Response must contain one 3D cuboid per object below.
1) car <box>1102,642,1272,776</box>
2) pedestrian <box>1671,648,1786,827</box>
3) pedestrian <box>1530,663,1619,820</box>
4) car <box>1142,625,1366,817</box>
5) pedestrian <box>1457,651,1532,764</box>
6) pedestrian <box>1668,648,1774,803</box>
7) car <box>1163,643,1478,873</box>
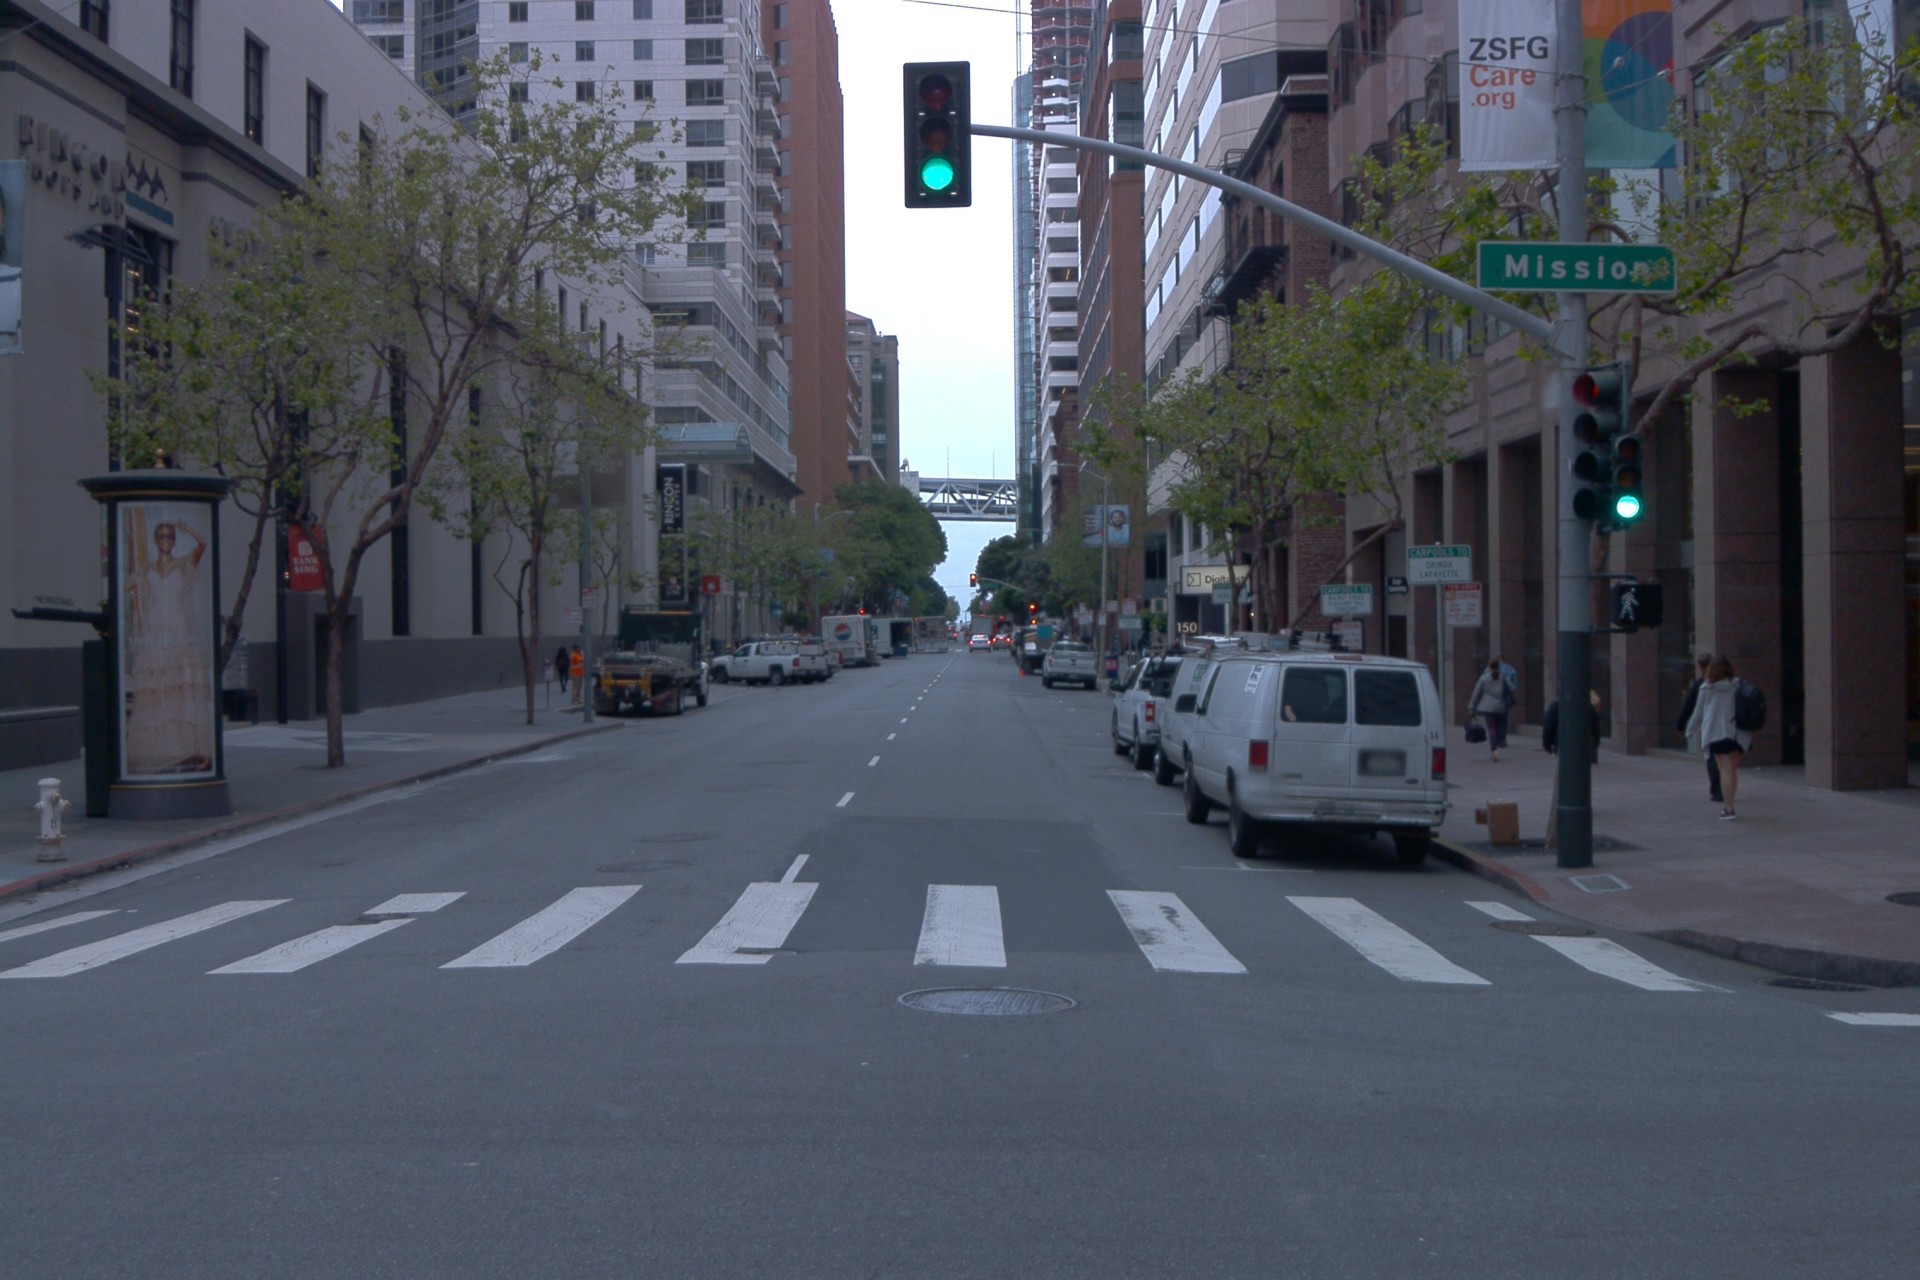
[{"bbox_3d":[3.786,1.099,35.299,2.227,2.040,5.528,0,1,-1],"label":"car"},{"bbox_3d":[8.177,1.018,21.907,0.843,1.856,0.961,0,1,-2],"label":"pedestrian"},{"bbox_3d":[6.938,1.125,23.247,0.758,1.713,0.969,0,1,3],"label":"pedestrian"},{"bbox_3d":[3.943,0.994,28.600,2.273,2.380,5.495,0,1,0],"label":"car"},{"bbox_3d":[8.222,1.022,31.656,0.919,1.696,0.981,0,1,3],"label":"pedestrian"},{"bbox_3d":[8.778,0.974,23.738,0.855,1.736,0.998,0,1,1],"label":"pedestrian"},{"bbox_3d":[3.707,1.125,22.326,2.314,2.100,5.501,0,1,-1],"label":"car"}]
